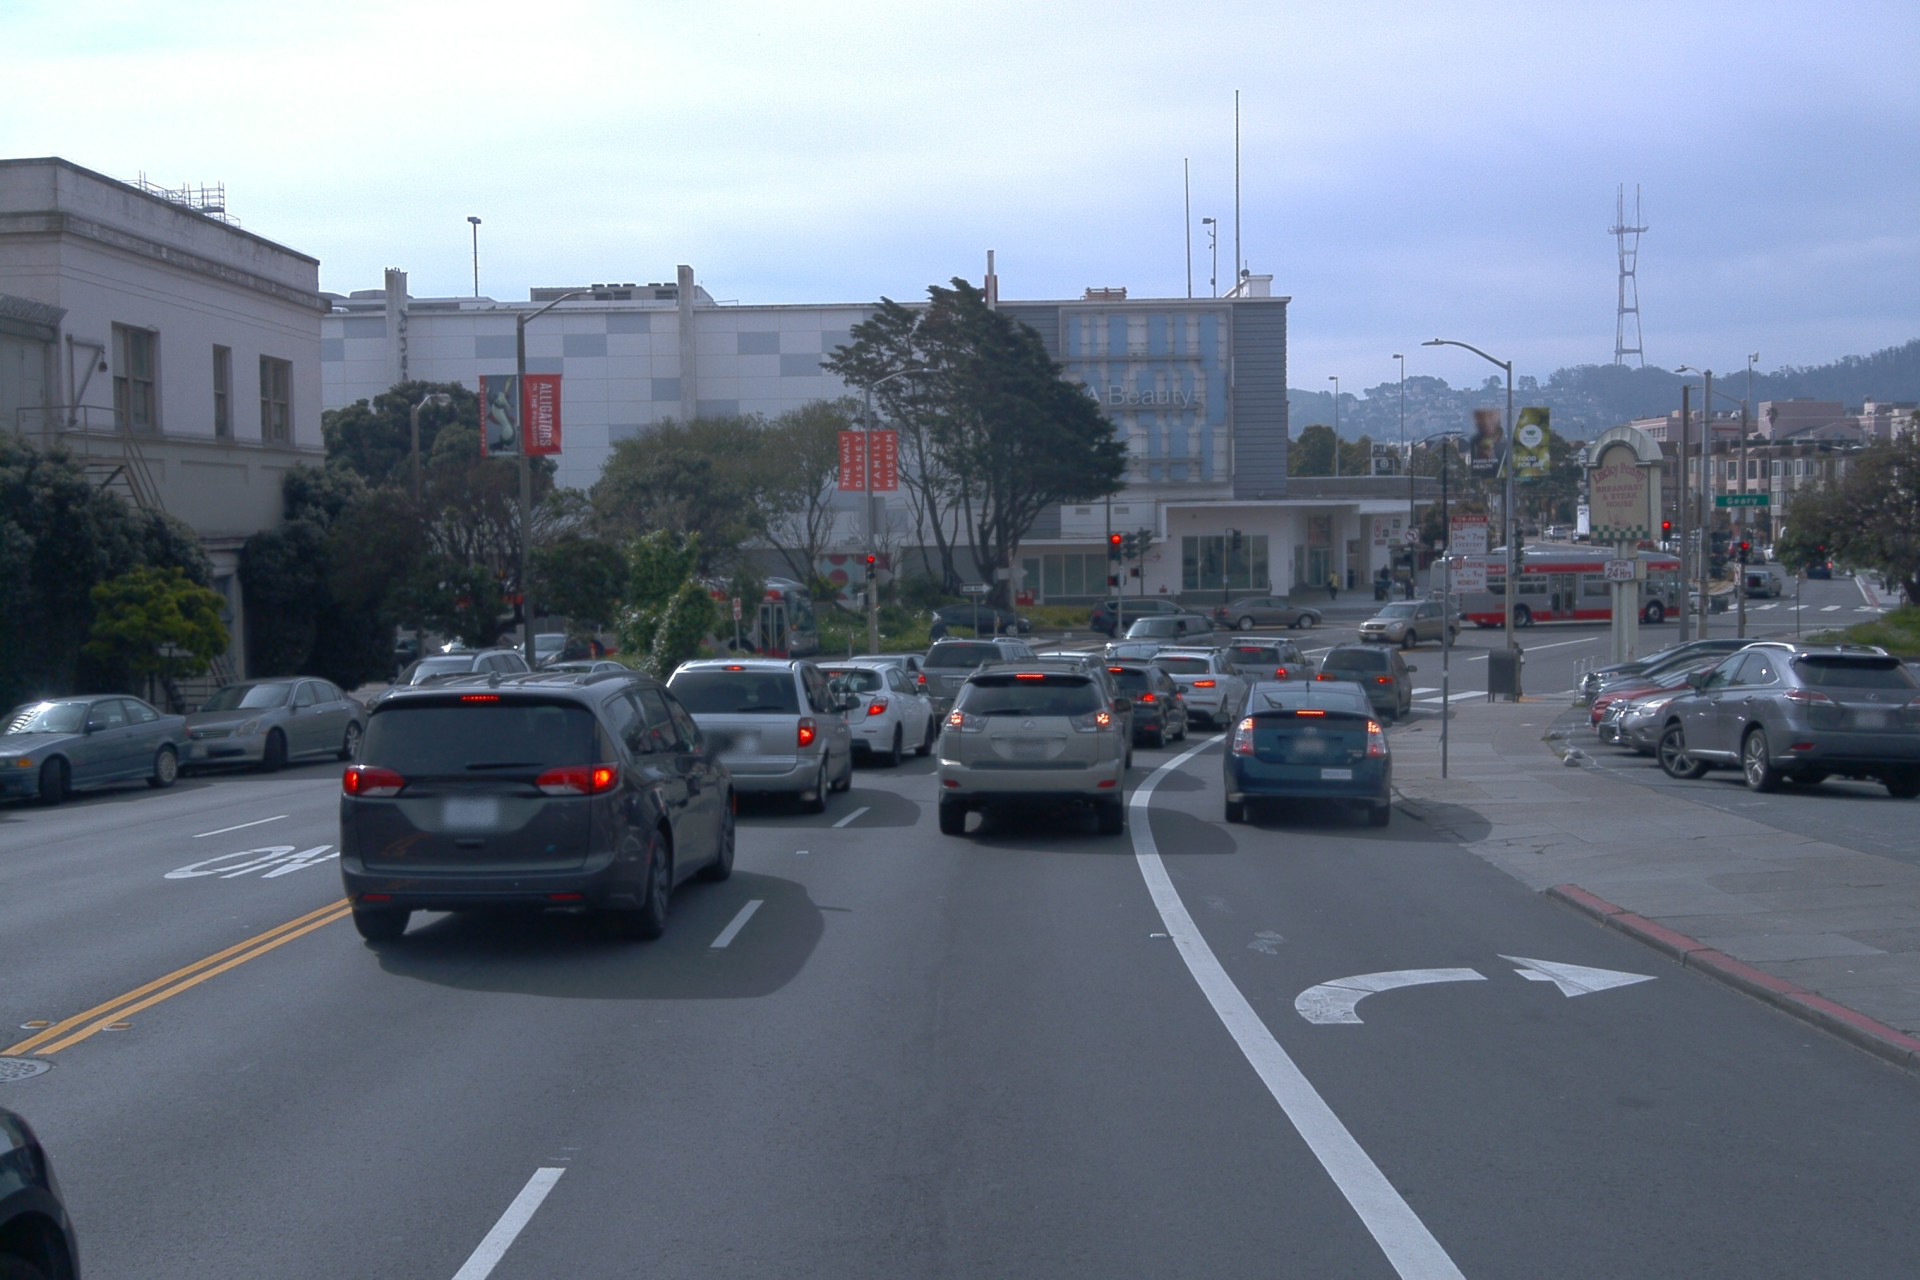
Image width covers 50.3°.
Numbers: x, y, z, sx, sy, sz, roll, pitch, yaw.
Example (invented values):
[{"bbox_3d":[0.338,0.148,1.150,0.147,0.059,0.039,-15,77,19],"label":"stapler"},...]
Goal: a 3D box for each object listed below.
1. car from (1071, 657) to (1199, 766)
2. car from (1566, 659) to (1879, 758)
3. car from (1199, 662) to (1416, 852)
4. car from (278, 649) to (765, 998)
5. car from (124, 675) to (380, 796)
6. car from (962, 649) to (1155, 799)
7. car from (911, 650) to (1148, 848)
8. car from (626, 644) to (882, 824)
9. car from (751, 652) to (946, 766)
[{"bbox_3d":[3.200,1.235,36.757,1.526,1.780,3.939,1,0,17],"label":"car"},{"bbox_3d":[12.816,1.124,34.600,4.485,1.550,2.134,1,0,2],"label":"car"},{"bbox_3d":[3.793,1.180,22.621,2.113,1.790,4.647,1,0,9],"label":"car"},{"bbox_3d":[-2.879,1.110,14.795,2.338,2.030,5.004,1,0,1],"label":"car"},{"bbox_3d":[-11.084,1.441,32.412,2.018,1.660,4.691,1,0,6],"label":"car"},{"bbox_3d":[1.475,1.089,28.641,2.120,1.870,4.391,1,0,10],"label":"car"},{"bbox_3d":[0.763,1.029,21.324,2.197,1.780,4.467,1,0,3],"label":"car"},{"bbox_3d":[-2.264,0.992,23.843,2.131,1.830,4.635,1,0,5],"label":"car"},{"bbox_3d":[-1.594,0.982,30.837,1.982,1.530,4.306,1,0,10],"label":"car"}]
